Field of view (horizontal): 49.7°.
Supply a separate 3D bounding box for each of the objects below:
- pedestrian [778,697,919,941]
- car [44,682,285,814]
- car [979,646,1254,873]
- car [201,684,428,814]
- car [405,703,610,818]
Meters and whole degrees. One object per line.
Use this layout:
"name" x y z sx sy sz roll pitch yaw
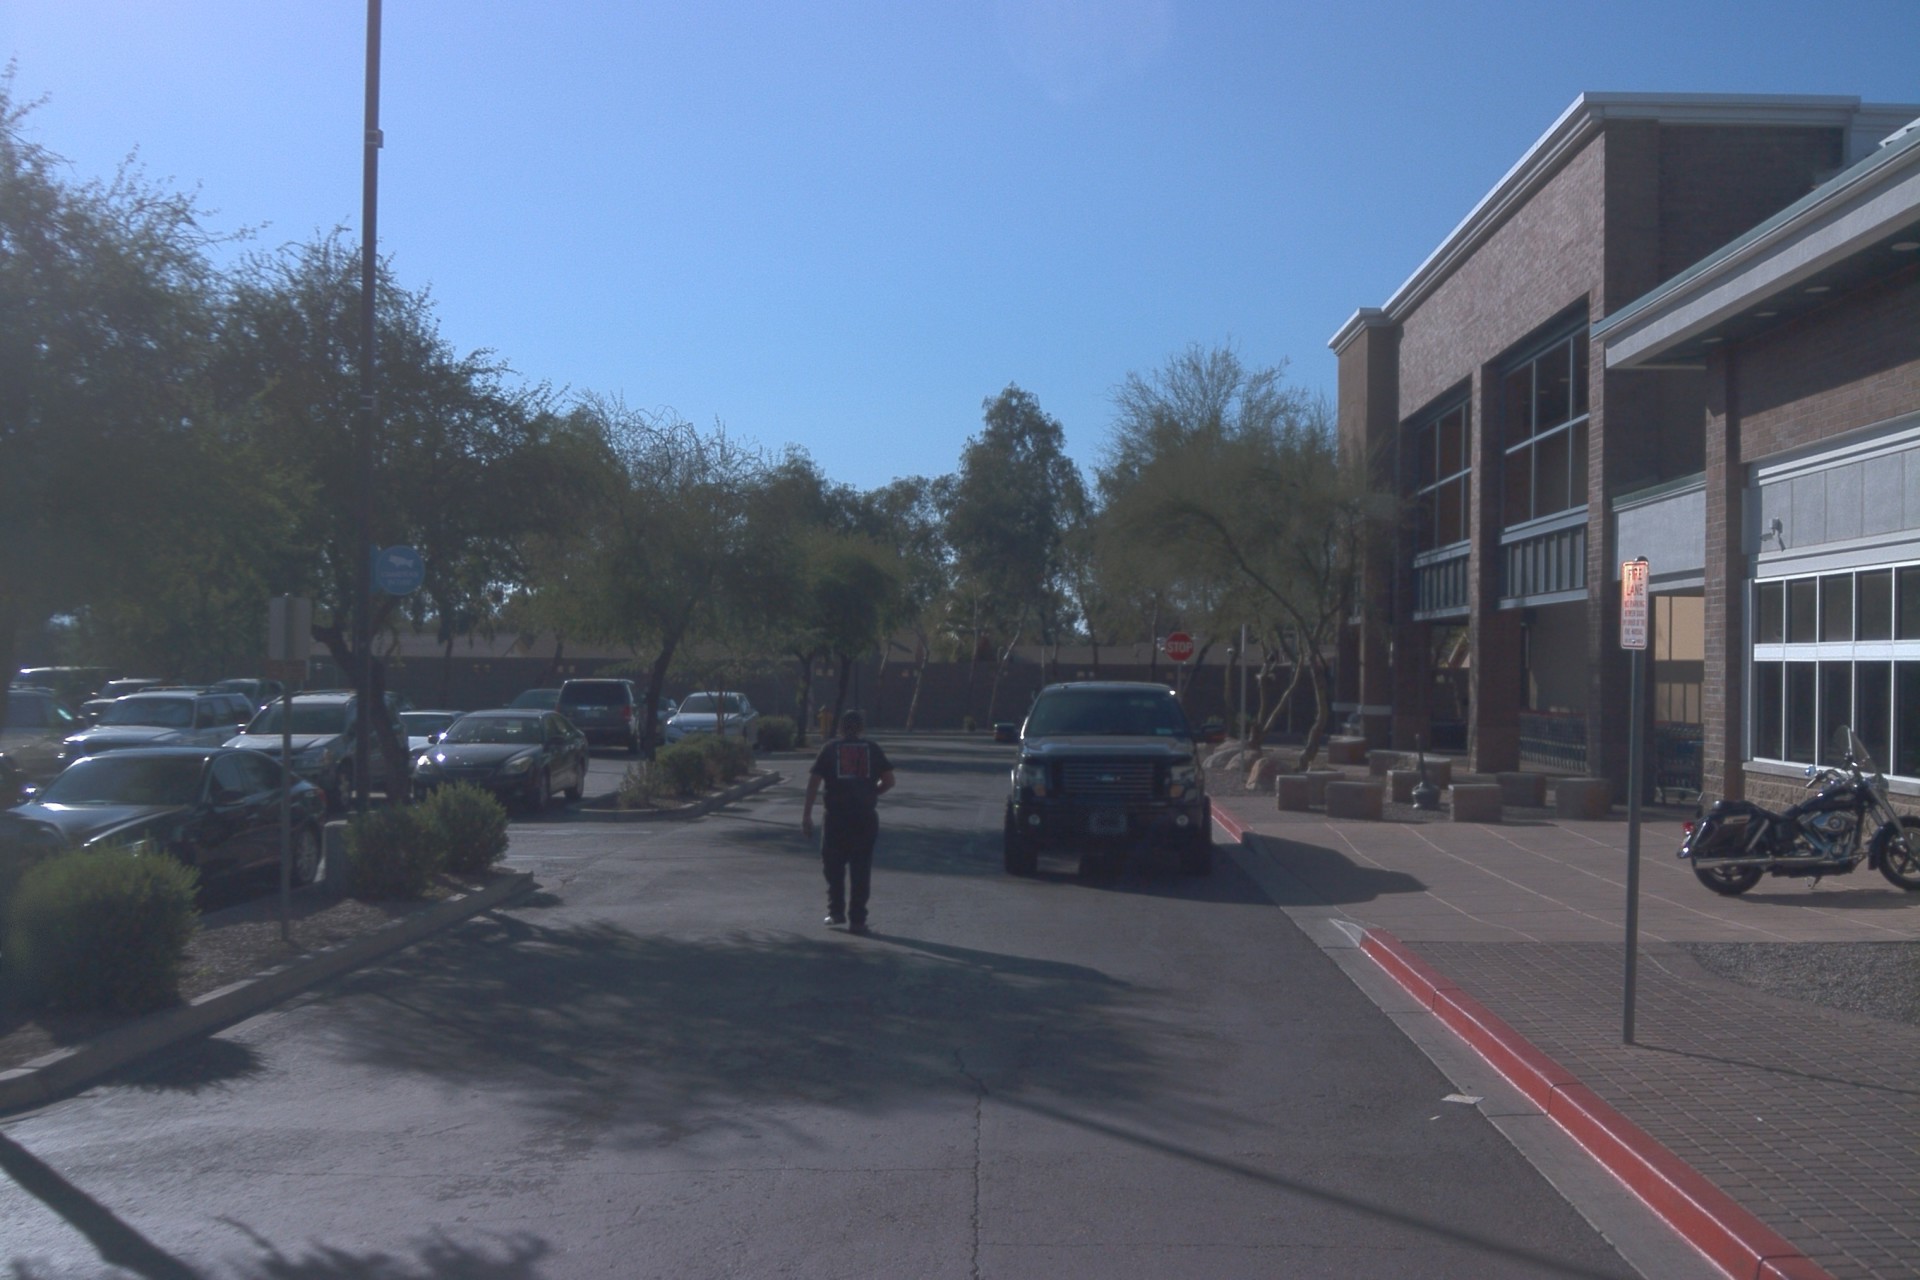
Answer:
"pedestrian" -0.914 1.401 16.672 1.075 1.870 1.184 0 -1 -5
"car" -12.072 1.595 31.824 1.922 1.860 4.555 -1 -1 1
"car" 1.631 1.236 23.075 2.655 2.190 5.664 -1 -1 2
"car" -9.658 1.584 31.415 1.886 1.820 4.571 -1 -1 2
"car" -6.729 1.750 31.377 1.931 1.560 4.779 -1 -1 2
